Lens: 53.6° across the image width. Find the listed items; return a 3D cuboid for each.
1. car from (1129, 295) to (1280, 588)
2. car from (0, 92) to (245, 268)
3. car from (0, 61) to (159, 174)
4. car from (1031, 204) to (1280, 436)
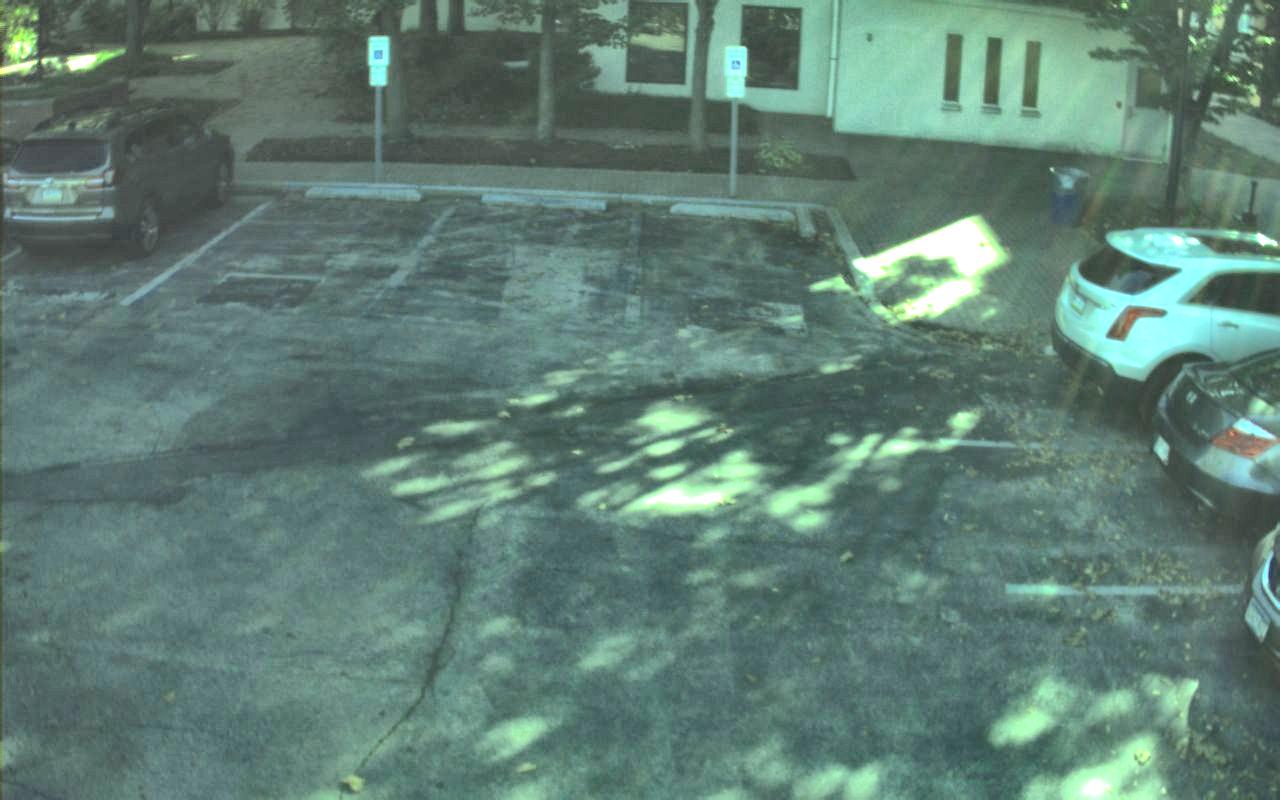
[{"bbox_3d":[6.200,0.199,8.636,4.353,1.588,1.932,-2,16,-4],"label":"car"},{"bbox_3d":[-6.966,-3.055,15.570,1.976,1.676,4.597,-1,17,1],"label":"car"},{"bbox_3d":[-11.090,-5.496,21.788,1.970,1.626,4.582,-1,17,2],"label":"car"},{"bbox_3d":[6.158,-0.836,10.991,4.528,1.690,1.980,-2,16,-2],"label":"car"}]
